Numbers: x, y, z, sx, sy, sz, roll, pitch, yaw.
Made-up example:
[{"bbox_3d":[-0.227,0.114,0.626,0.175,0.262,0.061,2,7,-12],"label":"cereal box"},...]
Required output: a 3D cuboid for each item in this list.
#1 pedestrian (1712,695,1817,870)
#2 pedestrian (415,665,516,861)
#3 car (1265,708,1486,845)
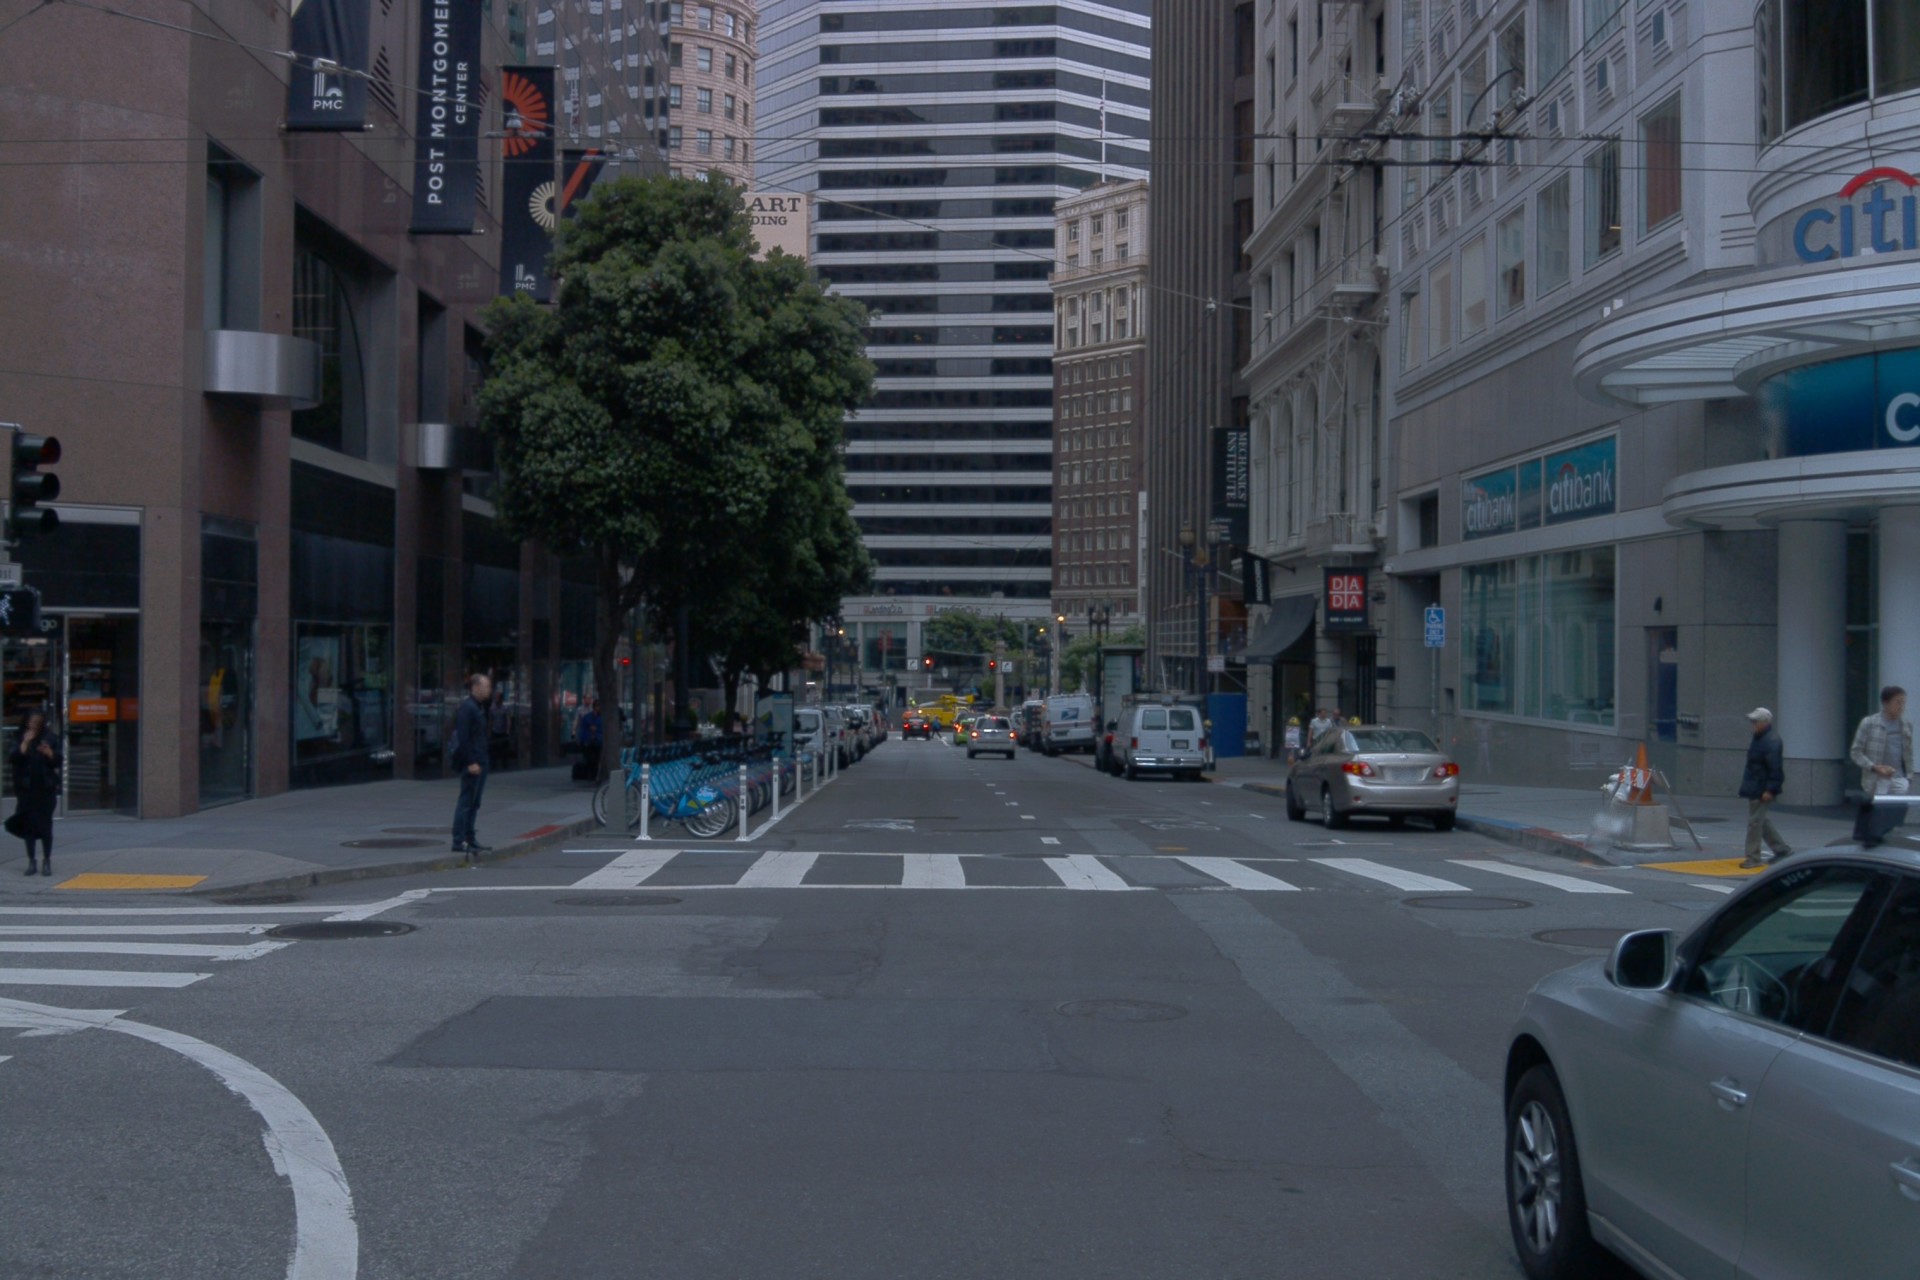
[{"bbox_3d":[8.397,1.473,21.598,0.803,1.760,0.793,0,1,2],"label":"pedestrian"},{"bbox_3d":[-5.113,1.258,21.394,0.775,1.970,0.820,0,1,5],"label":"pedestrian"},{"bbox_3d":[5.872,1.888,29.789,2.062,1.600,4.602,0,1,-3],"label":"car"}]
